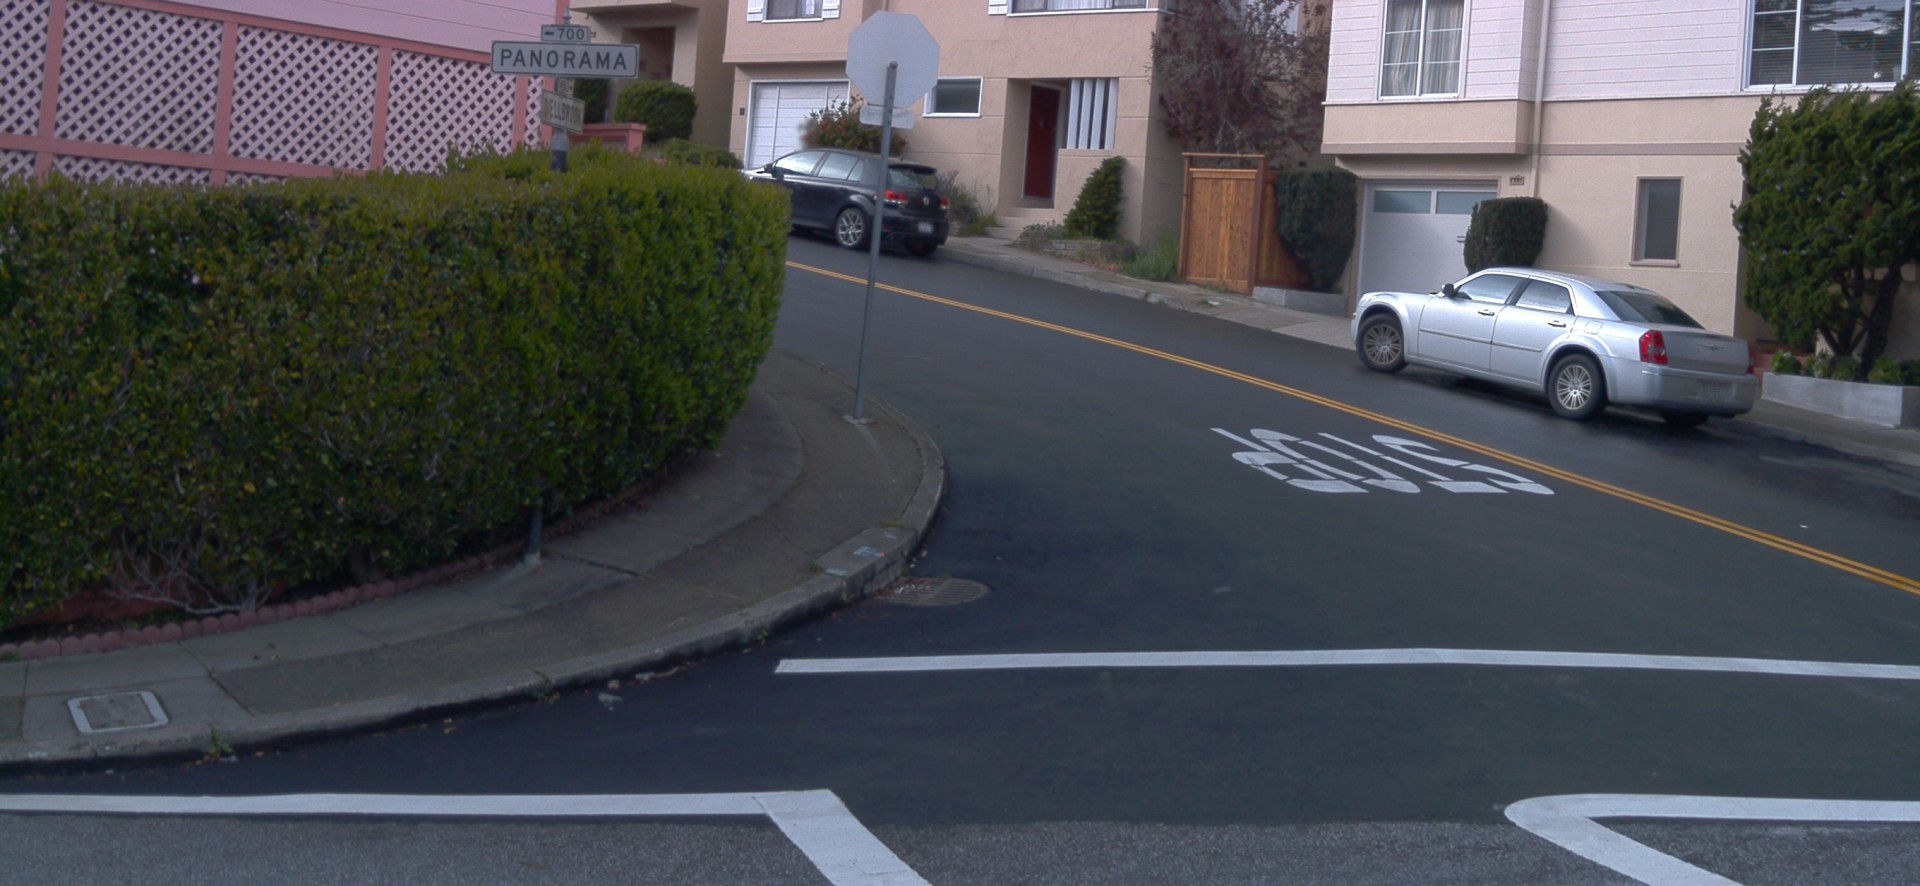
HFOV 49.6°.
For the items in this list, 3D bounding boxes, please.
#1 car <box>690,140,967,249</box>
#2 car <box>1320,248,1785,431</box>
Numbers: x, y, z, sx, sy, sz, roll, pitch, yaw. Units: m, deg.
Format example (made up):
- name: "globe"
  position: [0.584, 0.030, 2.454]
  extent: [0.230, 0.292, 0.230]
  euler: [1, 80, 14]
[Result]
- name: "car"
  position: [-2.094, -3.909, 32.594]
  extent: [4.119, 1.604, 1.867]
  euler: [5, 6, 38]
- name: "car"
  position: [6.436, -1.268, 23.152]
  extent: [1.984, 1.682, 4.921]
  euler: [-2, 6, -32]
